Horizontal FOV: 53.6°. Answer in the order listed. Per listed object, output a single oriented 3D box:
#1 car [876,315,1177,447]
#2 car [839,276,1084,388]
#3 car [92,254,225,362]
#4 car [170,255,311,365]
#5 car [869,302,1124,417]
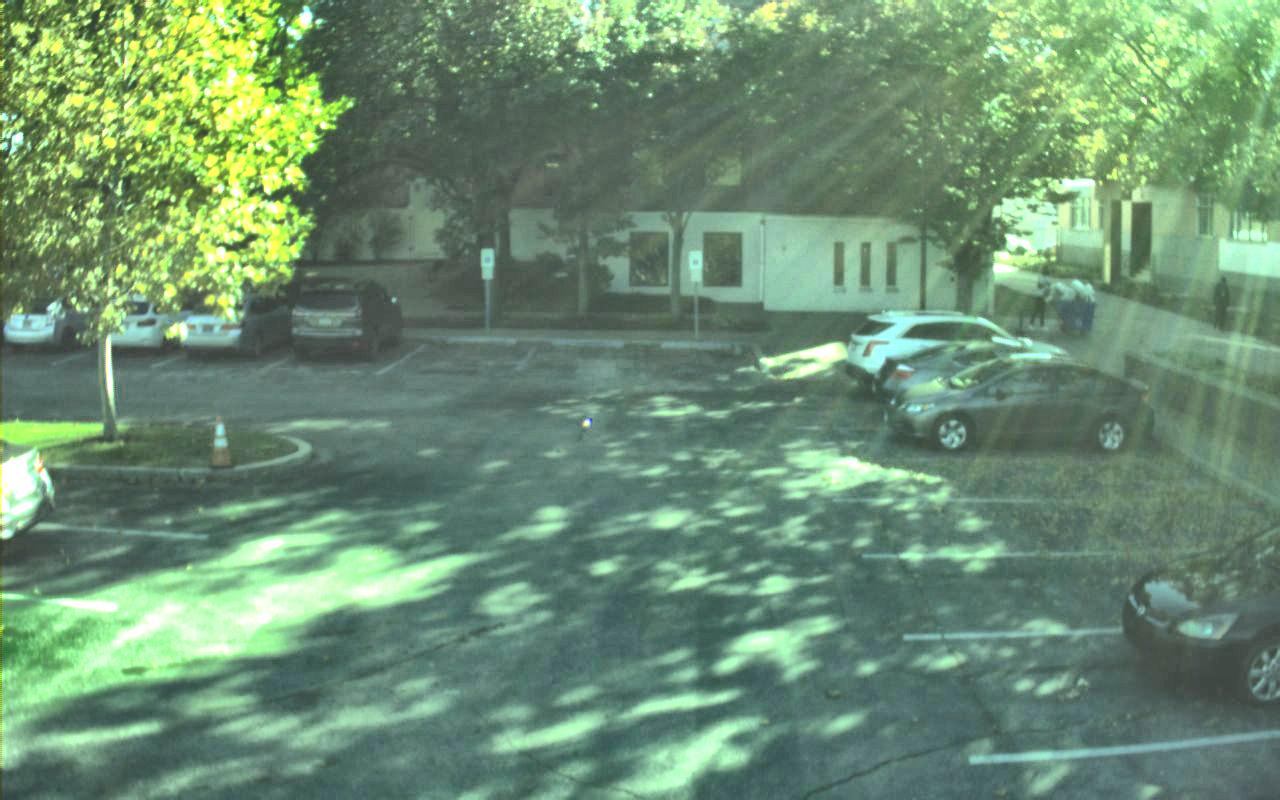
[{"bbox_3d":[6.189,-0.353,19.577,4.592,1.579,1.983,-1,16,1],"label":"car"},{"bbox_3d":[6.328,-1.388,24.397,4.551,1.703,2.005,-1,16,-1],"label":"car"},{"bbox_3d":[-12.001,-2.319,29.605,1.958,1.660,4.527,-1,17,-1],"label":"car"},{"bbox_3d":[-9.524,-2.199,29.032,1.939,1.630,4.478,0,17,3],"label":"car"},{"bbox_3d":[6.377,-0.757,22.013,4.307,1.539,1.915,-1,16,-1],"label":"car"}]
